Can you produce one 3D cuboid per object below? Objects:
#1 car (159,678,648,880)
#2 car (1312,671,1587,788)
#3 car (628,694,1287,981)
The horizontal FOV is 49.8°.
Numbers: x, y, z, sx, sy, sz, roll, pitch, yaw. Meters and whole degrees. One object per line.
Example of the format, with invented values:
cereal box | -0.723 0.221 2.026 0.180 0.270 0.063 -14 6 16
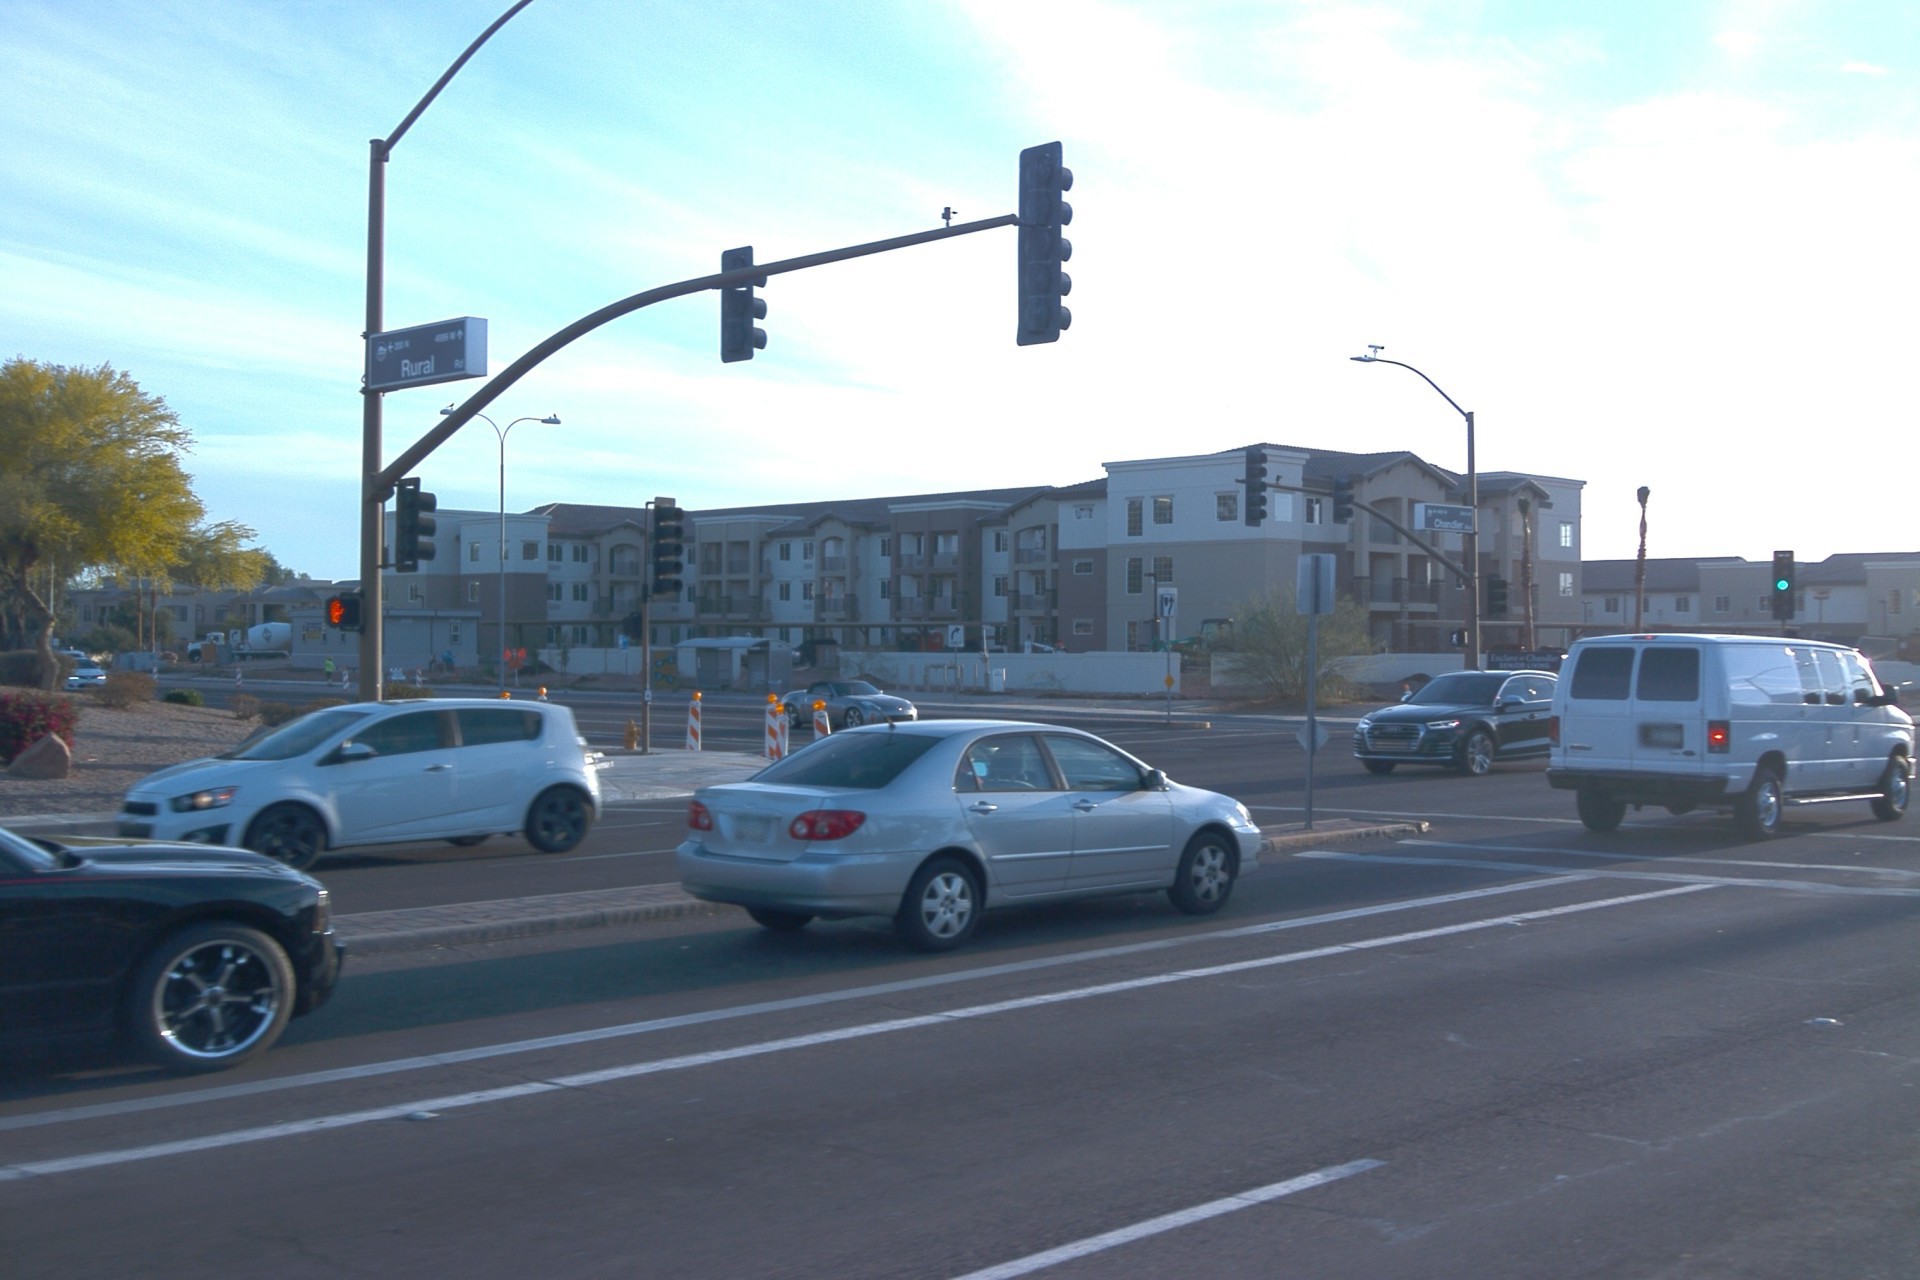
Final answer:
car | -5.194 1.215 19.597 4.026 1.640 1.935 1 0 -44
car | 7.821 1.346 32.761 4.686 1.660 2.056 1 0 -45
car | 0.123 1.242 14.692 4.582 1.610 1.986 1 0 -44
